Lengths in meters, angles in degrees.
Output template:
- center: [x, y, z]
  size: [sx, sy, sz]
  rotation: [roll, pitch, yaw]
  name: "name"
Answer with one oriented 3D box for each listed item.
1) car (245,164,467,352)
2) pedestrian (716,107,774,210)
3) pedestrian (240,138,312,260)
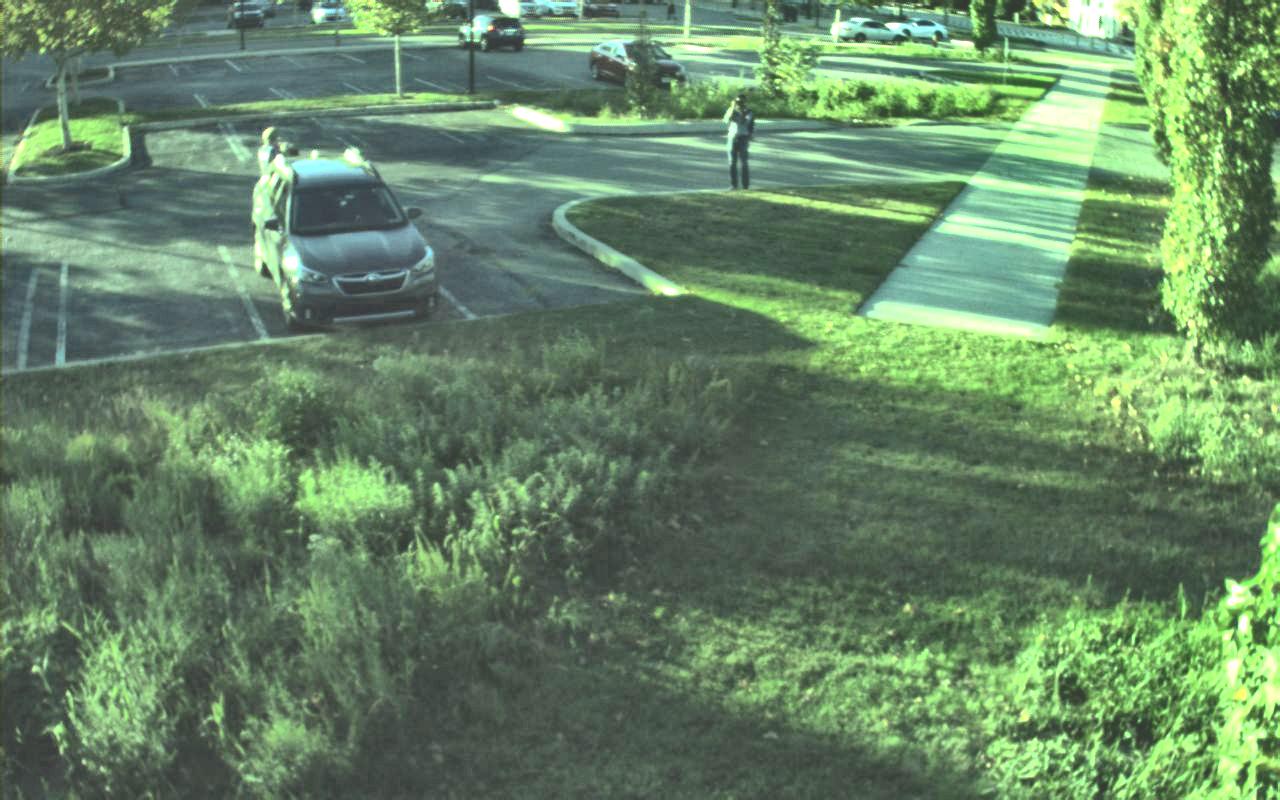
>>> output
- center: [-3.813, -1.969, 15.685]
  size: [2.017, 1.617, 4.567]
  rotation: [-7, 17, -22]
  name: "car"
- center: [1.855, -4.293, 22.132]
  size: [0.772, 1.758, 0.803]
  rotation: [-5, 15, -16]
  name: "pedestrian"
- center: [-5.530, -3.032, 18.331]
  size: [0.803, 1.739, 0.782]
  rotation: [0, 14, 5]
  name: "pedestrian"
